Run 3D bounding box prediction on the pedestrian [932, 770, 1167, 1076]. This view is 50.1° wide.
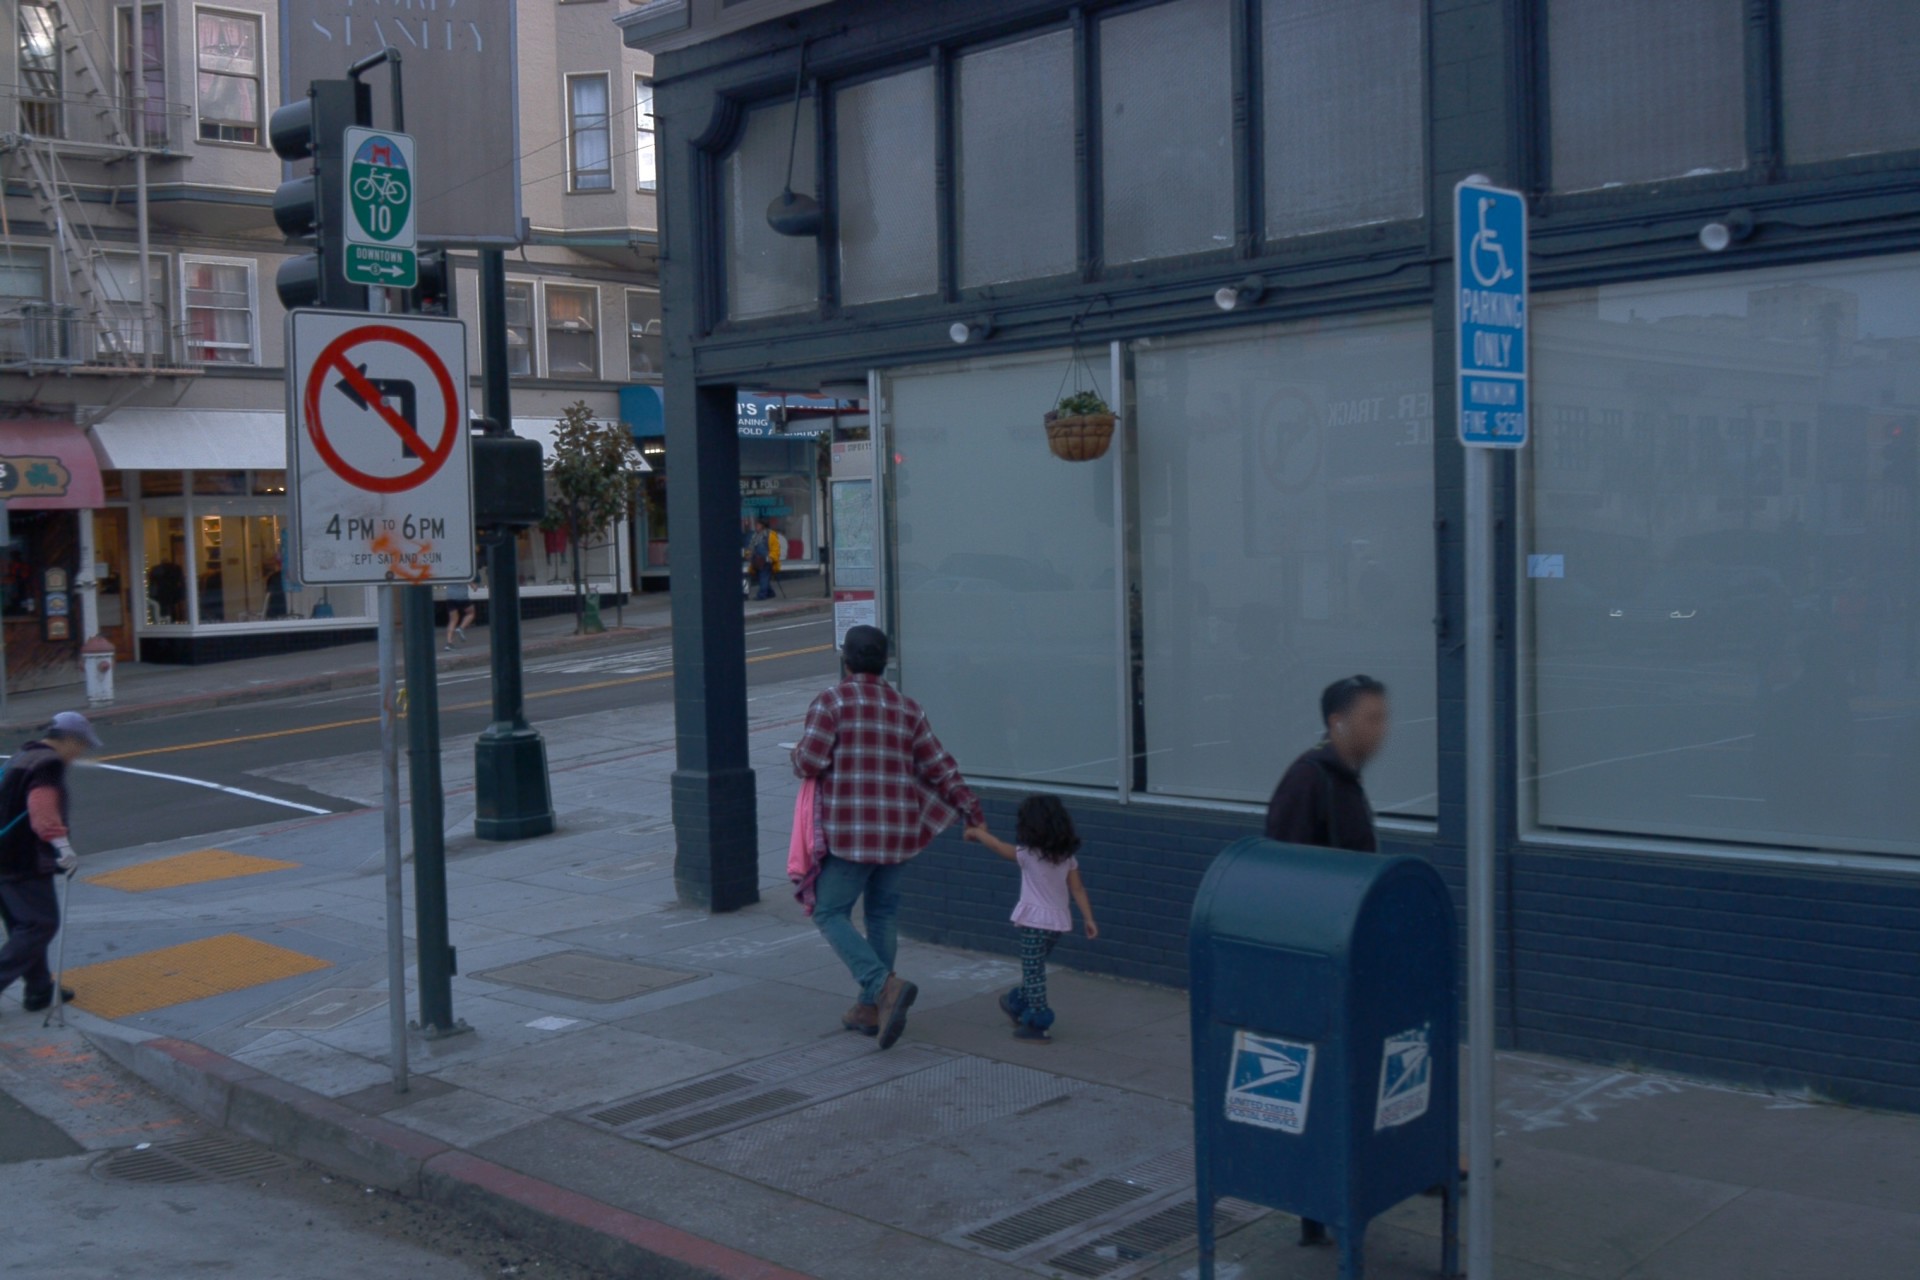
[{"bbox_3d":[0.359,1.119,8.383,0.659,1.120,0.695,0,1,-36],"label":"pedestrian"}]

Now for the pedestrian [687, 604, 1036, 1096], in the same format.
[{"bbox_3d":[-0.419,0.784,8.422,0.954,1.840,1.113,0,1,-36],"label":"pedestrian"}]

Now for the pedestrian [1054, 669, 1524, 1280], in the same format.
[{"bbox_3d":[1.008,0.929,6.149,1.149,1.657,0.999,1,0,25],"label":"pedestrian"}]

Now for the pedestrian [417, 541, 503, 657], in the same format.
[{"bbox_3d":[-7.658,-0.623,31.525,0.721,1.740,1.201,1,0,20],"label":"pedestrian"}]
